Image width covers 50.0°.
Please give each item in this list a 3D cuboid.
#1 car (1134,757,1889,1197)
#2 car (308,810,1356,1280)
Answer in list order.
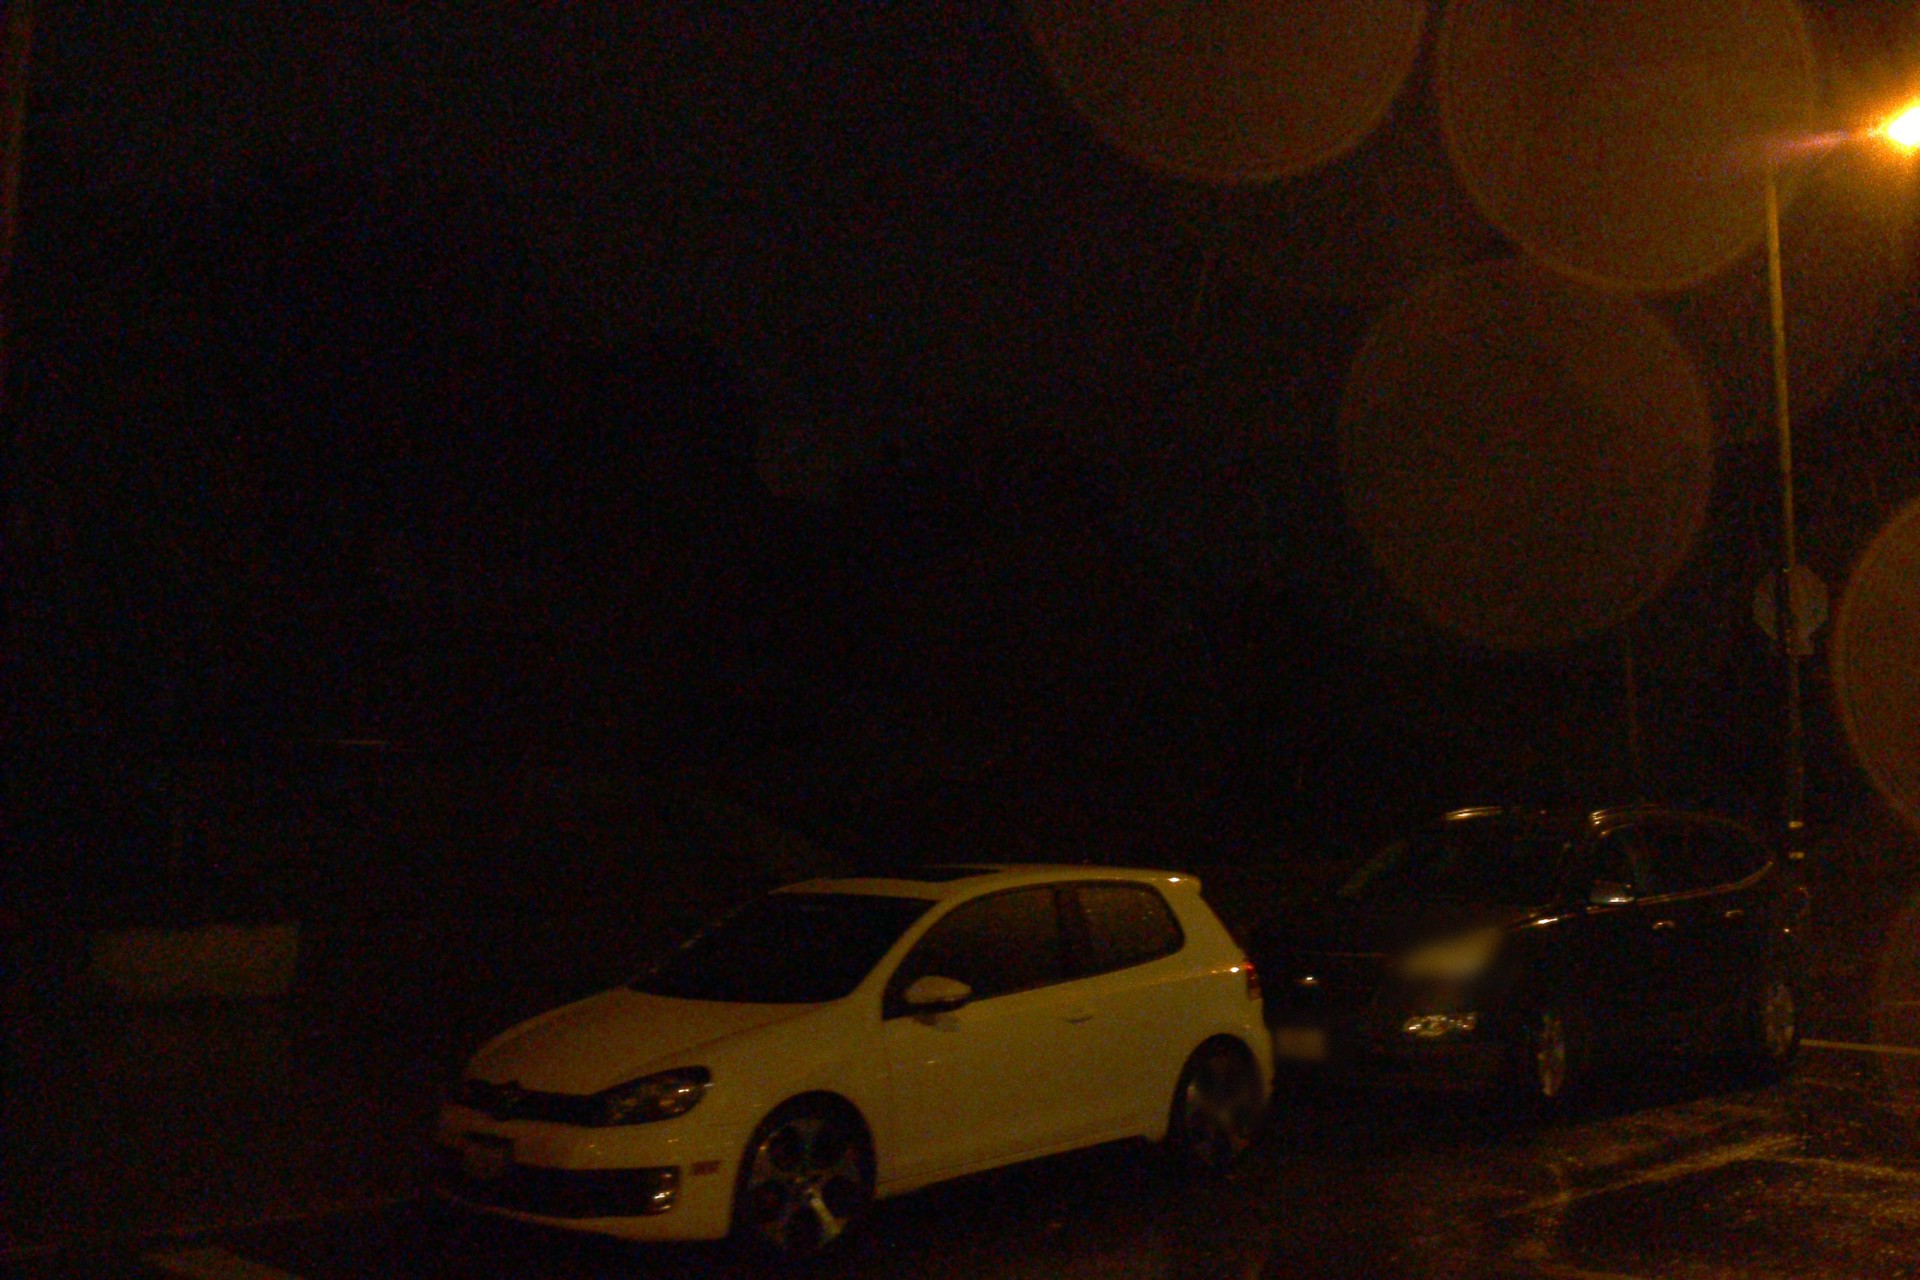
[{"bbox_3d":[3.747,1.882,13.256,2.340,1.900,5.320,1,1,45],"label":"car"},{"bbox_3d":[-0.359,1.744,9.161,2.037,1.550,4.407,1,1,45],"label":"car"}]
